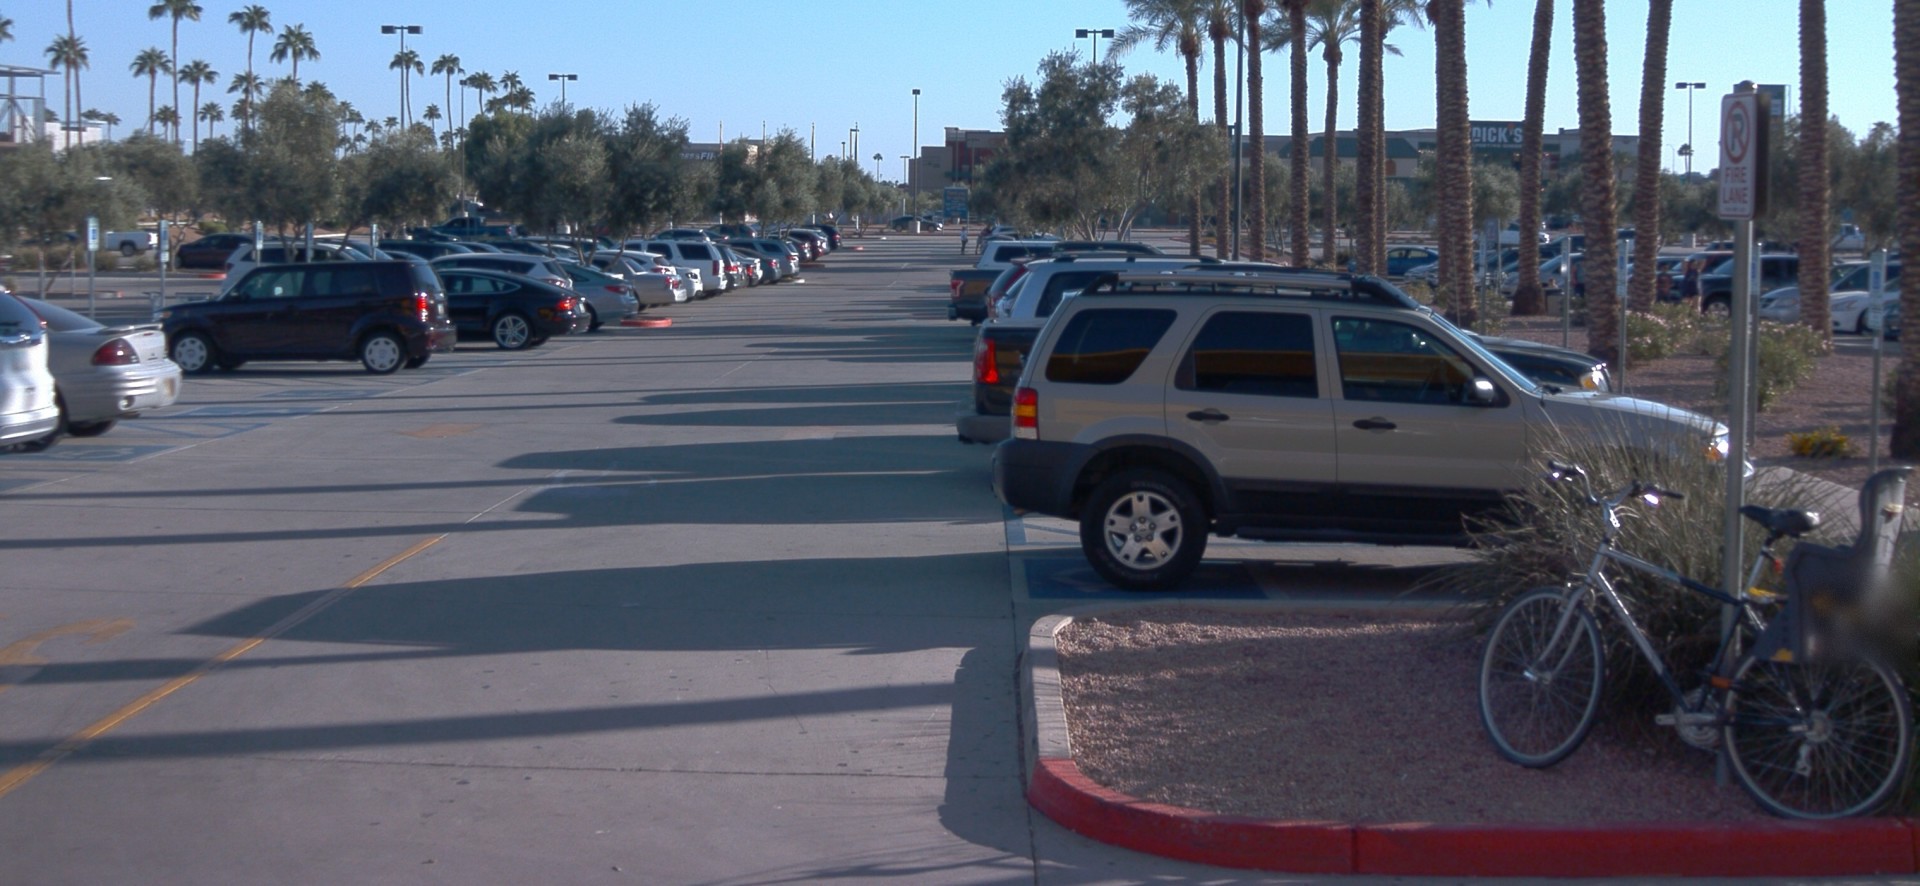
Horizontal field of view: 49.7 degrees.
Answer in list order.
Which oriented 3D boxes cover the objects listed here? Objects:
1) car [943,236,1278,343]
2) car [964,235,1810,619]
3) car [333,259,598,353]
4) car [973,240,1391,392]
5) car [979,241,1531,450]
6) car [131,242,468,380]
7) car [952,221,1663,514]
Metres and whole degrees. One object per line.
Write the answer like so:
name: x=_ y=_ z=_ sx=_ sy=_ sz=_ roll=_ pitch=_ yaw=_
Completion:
car: x=2.743 y=-2.918 z=39.074 sx=6.084 sy=1.845 sz=2.452 roll=1 pitch=4 yaw=-1
car: x=2.437 y=-0.215 z=12.466 sx=4.569 sy=1.986 sz=2.008 roll=2 pitch=3 yaw=7
car: x=-8.563 y=-2.411 z=36.209 sx=4.169 sy=1.516 sz=1.898 roll=1 pitch=4 yaw=-2
car: x=2.742 y=-1.662 z=26.499 sx=5.084 sy=1.755 sz=2.150 roll=1 pitch=4 yaw=1
car: x=2.725 y=-1.005 z=19.927 sx=4.916 sy=1.765 sz=2.428 roll=1 pitch=4 yaw=4
car: x=-9.306 y=-1.909 z=29.479 sx=4.169 sy=1.816 sz=1.897 roll=1 pitch=3 yaw=-2
car: x=2.657 y=-0.698 z=16.886 sx=5.349 sy=2.135 sz=2.267 roll=1 pitch=4 yaw=1
